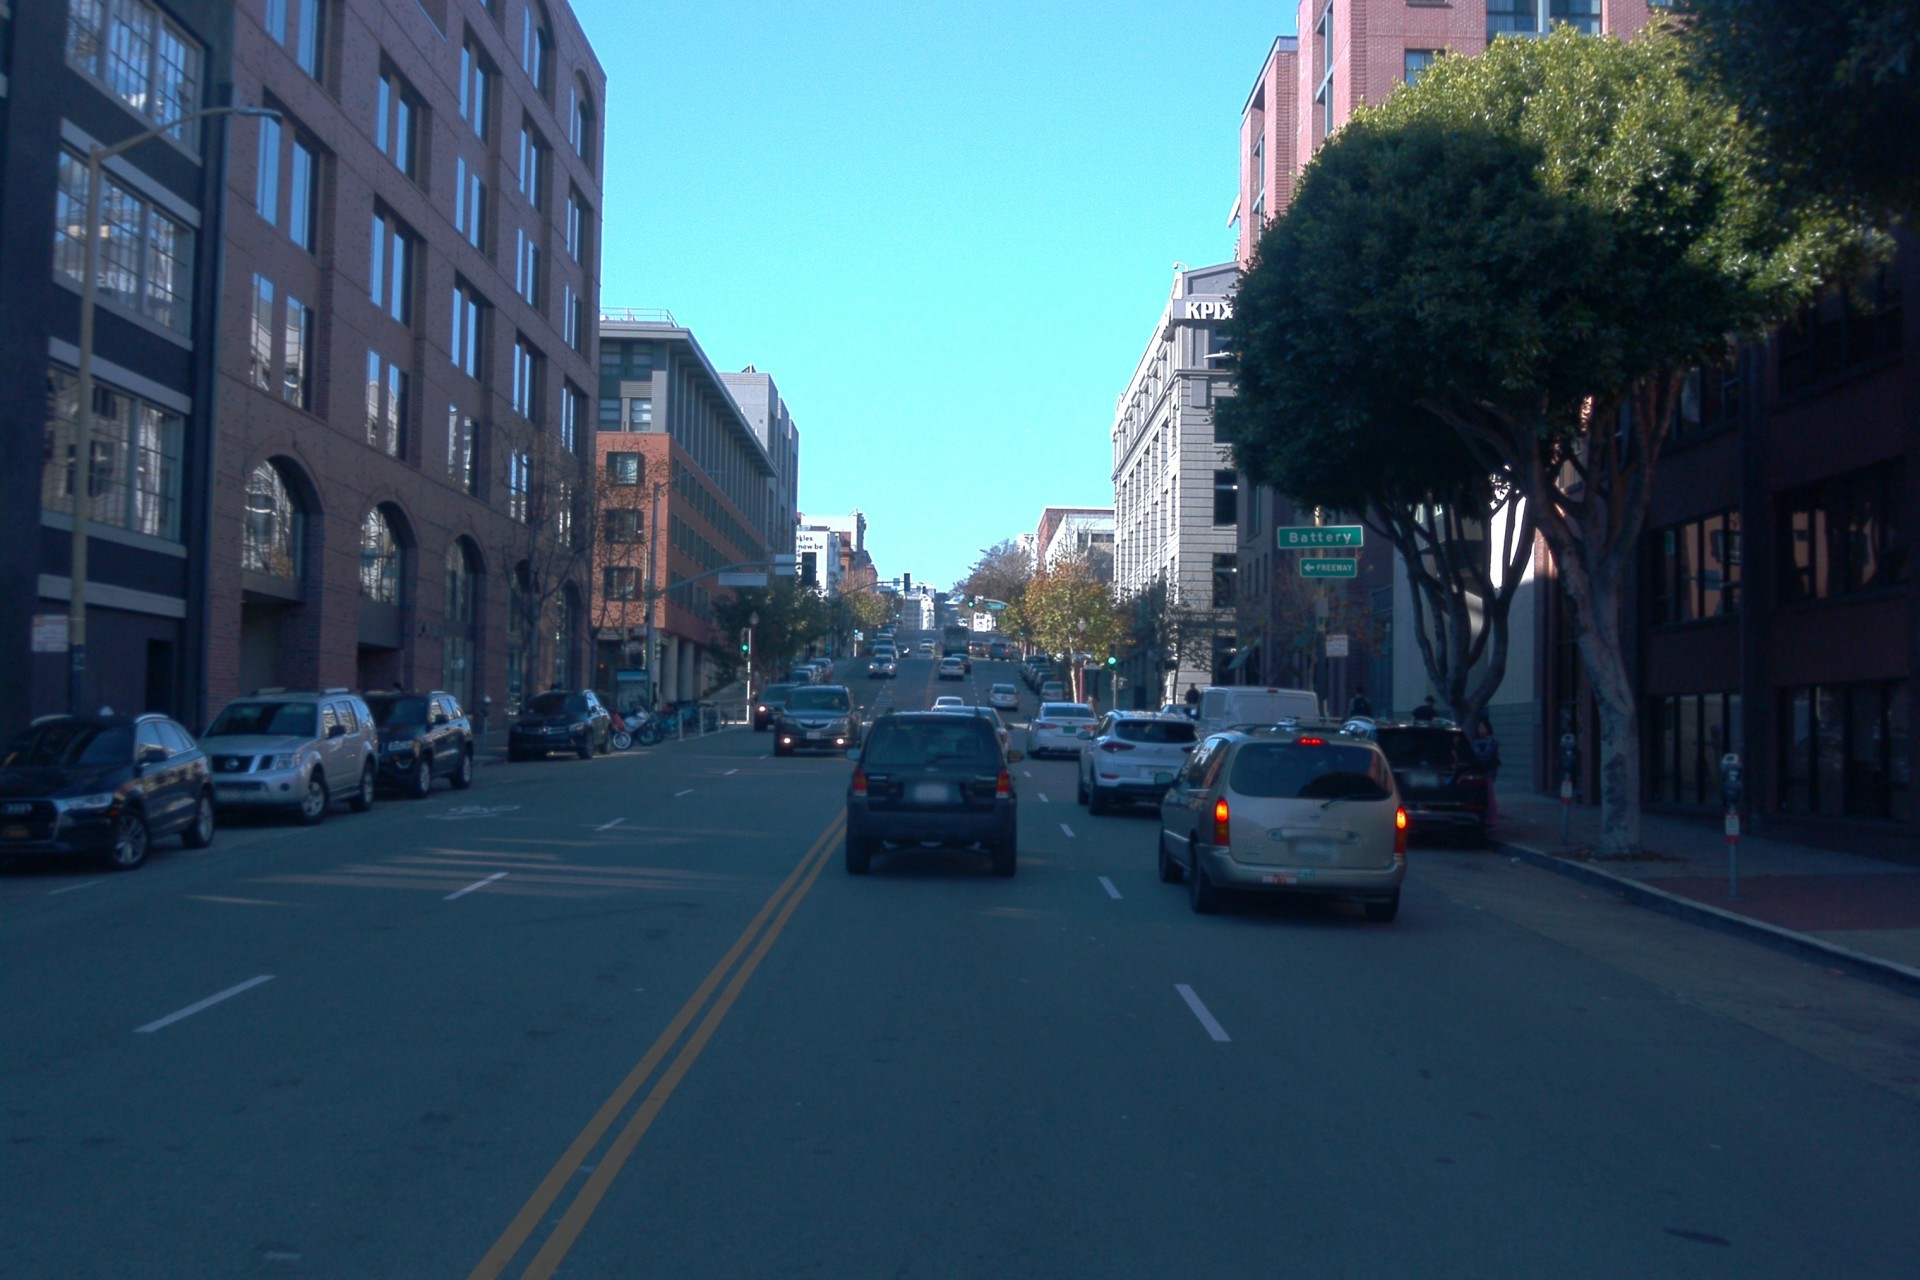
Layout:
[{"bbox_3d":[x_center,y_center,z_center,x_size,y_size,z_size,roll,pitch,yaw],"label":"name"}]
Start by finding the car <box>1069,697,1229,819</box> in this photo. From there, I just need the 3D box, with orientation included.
[{"bbox_3d":[2.966,1.846,33.656,2.088,1.800,4.683,1,-2,-1],"label":"car"}]

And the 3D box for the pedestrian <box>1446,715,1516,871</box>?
[{"bbox_3d":[7.545,2.199,30.131,0.680,2.200,0.716,2,-2,-44],"label":"pedestrian"}]

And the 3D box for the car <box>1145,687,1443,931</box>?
[{"bbox_3d":[3.092,1.521,20.302,2.113,2.070,4.763,1,-2,0],"label":"car"}]

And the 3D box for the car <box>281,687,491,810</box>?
[{"bbox_3d":[-9.631,1.785,35.365,2.181,1.900,4.968,1,-2,0],"label":"car"}]

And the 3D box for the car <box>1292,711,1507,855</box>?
[{"bbox_3d":[6.247,1.987,30.190,2.136,1.860,4.939,1,-2,1],"label":"car"}]

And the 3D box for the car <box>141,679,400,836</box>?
[{"bbox_3d":[-9.550,1.583,29.294,2.136,1.990,4.919,1,-2,-2],"label":"car"}]

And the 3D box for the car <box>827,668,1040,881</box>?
[{"bbox_3d":[-0.250,1.415,23.138,2.096,2.100,4.545,1,-2,0],"label":"car"}]
